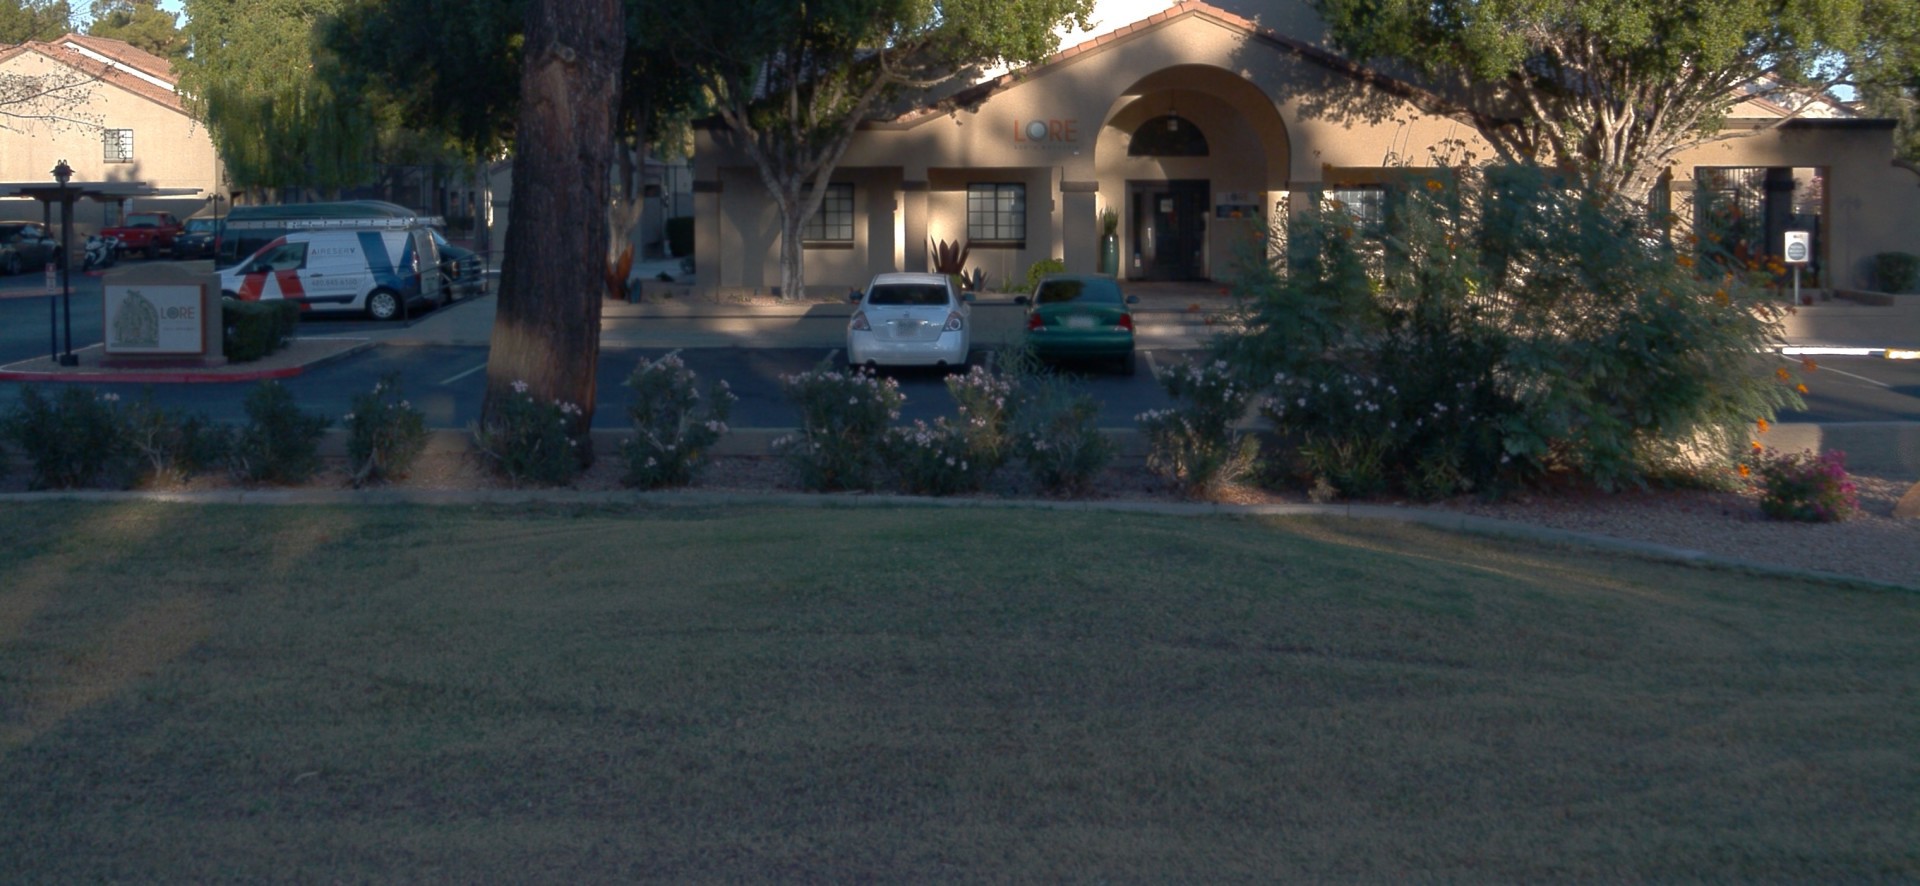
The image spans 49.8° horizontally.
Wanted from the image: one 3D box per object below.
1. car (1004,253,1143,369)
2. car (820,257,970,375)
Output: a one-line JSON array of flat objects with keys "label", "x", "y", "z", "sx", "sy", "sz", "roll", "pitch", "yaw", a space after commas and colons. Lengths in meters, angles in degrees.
[{"label": "car", "x": 1.694, "y": -2.119, "z": 32.232, "sx": 1.975, "sy": 1.624, "sz": 4.674, "roll": 0, "pitch": 5, "yaw": 1}, {"label": "car", "x": -0.913, "y": -2.020, "z": 31.828, "sx": 2.100, "sy": 1.624, "sz": 4.627, "roll": 0, "pitch": 5, "yaw": 1}]
